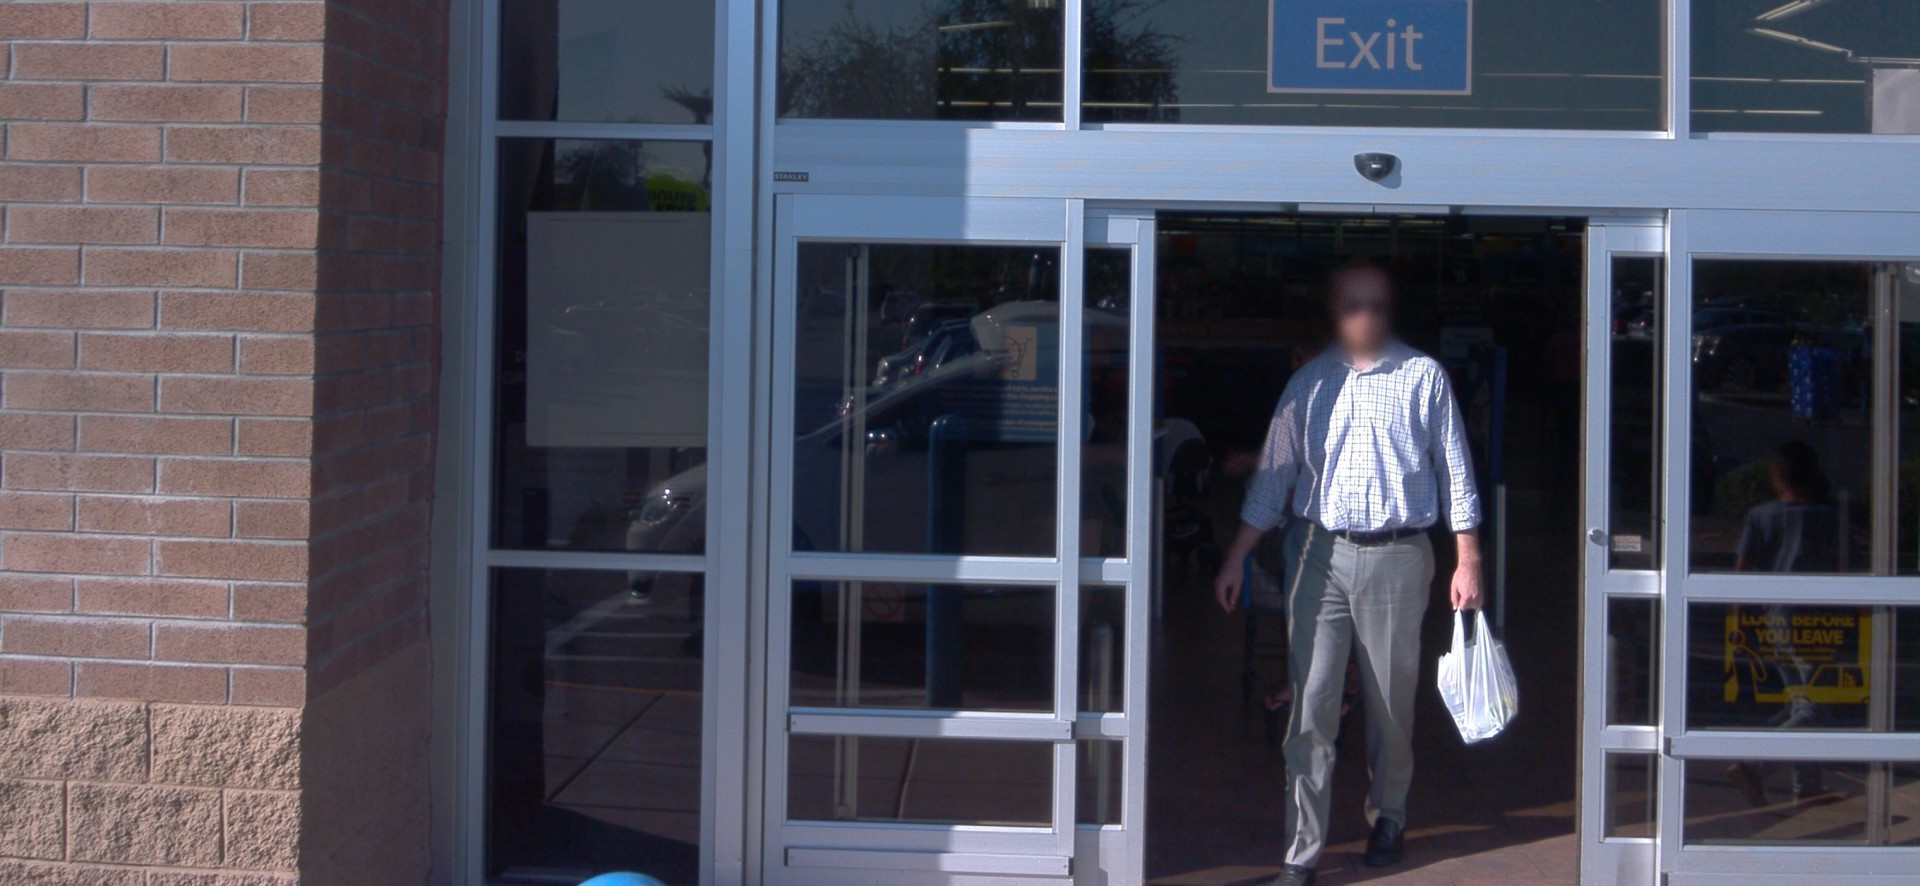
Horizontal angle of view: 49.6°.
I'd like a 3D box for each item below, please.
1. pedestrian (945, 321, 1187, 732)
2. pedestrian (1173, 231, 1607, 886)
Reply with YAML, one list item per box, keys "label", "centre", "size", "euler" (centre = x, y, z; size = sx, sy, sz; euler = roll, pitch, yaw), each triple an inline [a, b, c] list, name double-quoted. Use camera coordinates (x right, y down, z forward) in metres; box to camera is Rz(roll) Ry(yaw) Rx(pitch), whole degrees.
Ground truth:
- label: "pedestrian"
  centre: [0.460, 0.320, 9.258]
  size: [0.797, 1.690, 0.782]
  euler: [0, 1, -24]
- label: "pedestrian"
  centre: [1.299, 0.358, 6.586]
  size: [1.207, 2.040, 1.139]
  euler: [1, 1, 5]
